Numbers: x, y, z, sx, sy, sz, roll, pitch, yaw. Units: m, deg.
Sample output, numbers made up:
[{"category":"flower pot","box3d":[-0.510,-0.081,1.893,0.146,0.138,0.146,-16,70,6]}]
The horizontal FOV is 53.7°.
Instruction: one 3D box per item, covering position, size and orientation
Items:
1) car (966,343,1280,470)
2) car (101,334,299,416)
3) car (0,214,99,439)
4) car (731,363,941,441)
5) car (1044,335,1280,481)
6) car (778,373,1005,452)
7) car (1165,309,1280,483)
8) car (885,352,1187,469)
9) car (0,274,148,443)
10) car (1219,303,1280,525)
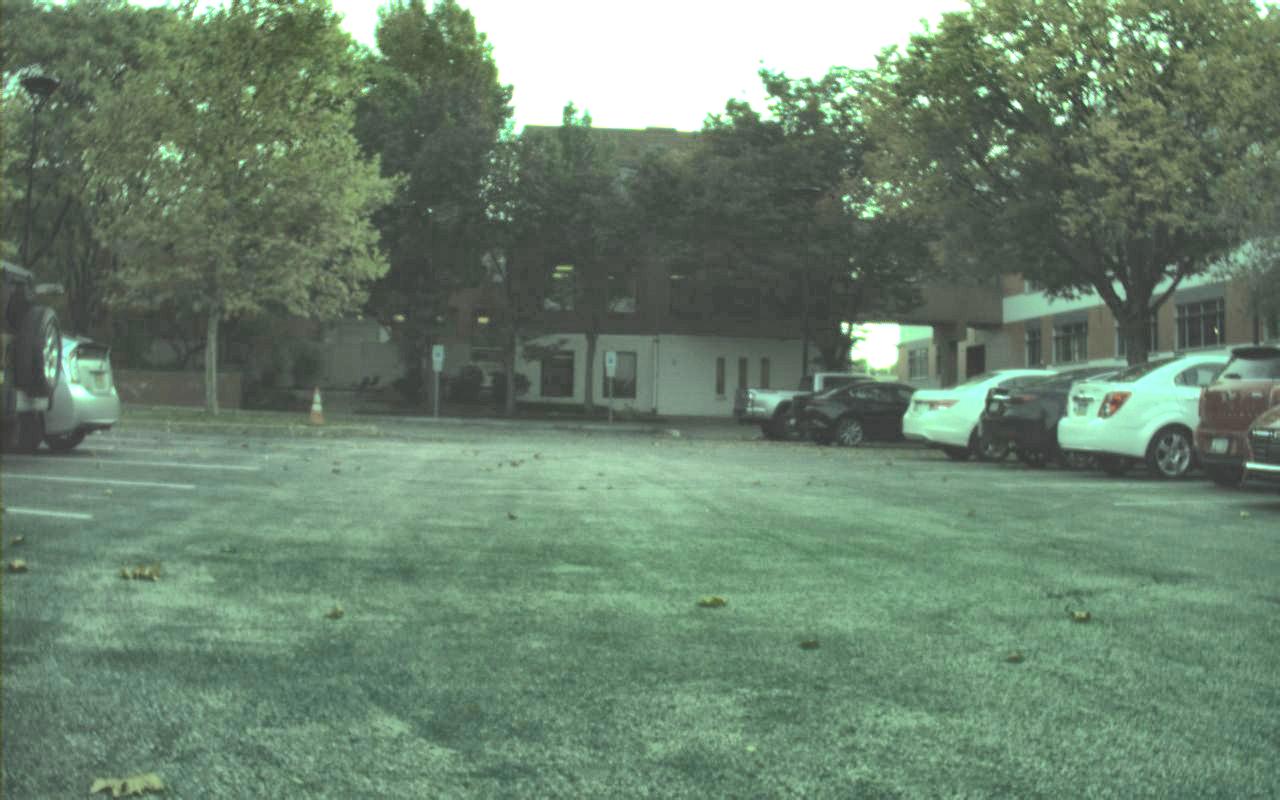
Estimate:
[{"category":"car","box3d":[6.949,0.082,16.789,4.435,1.620,1.924,0,1,-8]},{"category":"car","box3d":[-14.700,-0.799,39.785,6.606,2.602,2.457,0,1,-10]},{"category":"car","box3d":[-7.344,-0.596,9.610,4.678,1.798,2.026,0,1,-10]},{"category":"car","box3d":[4.979,0.034,31.988,5.010,1.917,2.098,0,1,-8]},{"category":"car","box3d":[7.308,0.094,14.307,4.405,1.619,1.914,0,1,-4]},{"category":"car","box3d":[5.472,0.241,26.961,4.592,1.601,1.959,0,1,-15]},{"category":"car","box3d":[7.902,-0.024,11.941,4.404,1.632,1.927,0,1,-14]},{"category":"car","box3d":[6.318,0.147,19.322,4.580,1.719,1.996,0,1,-5]},{"category":"car","box3d":[-7.717,-0.419,12.058,4.505,1.680,1.970,0,1,-8]},{"category":"car","box3d":[7.141,0.116,8.778,4.458,1.586,1.956,1,1,8]}]
